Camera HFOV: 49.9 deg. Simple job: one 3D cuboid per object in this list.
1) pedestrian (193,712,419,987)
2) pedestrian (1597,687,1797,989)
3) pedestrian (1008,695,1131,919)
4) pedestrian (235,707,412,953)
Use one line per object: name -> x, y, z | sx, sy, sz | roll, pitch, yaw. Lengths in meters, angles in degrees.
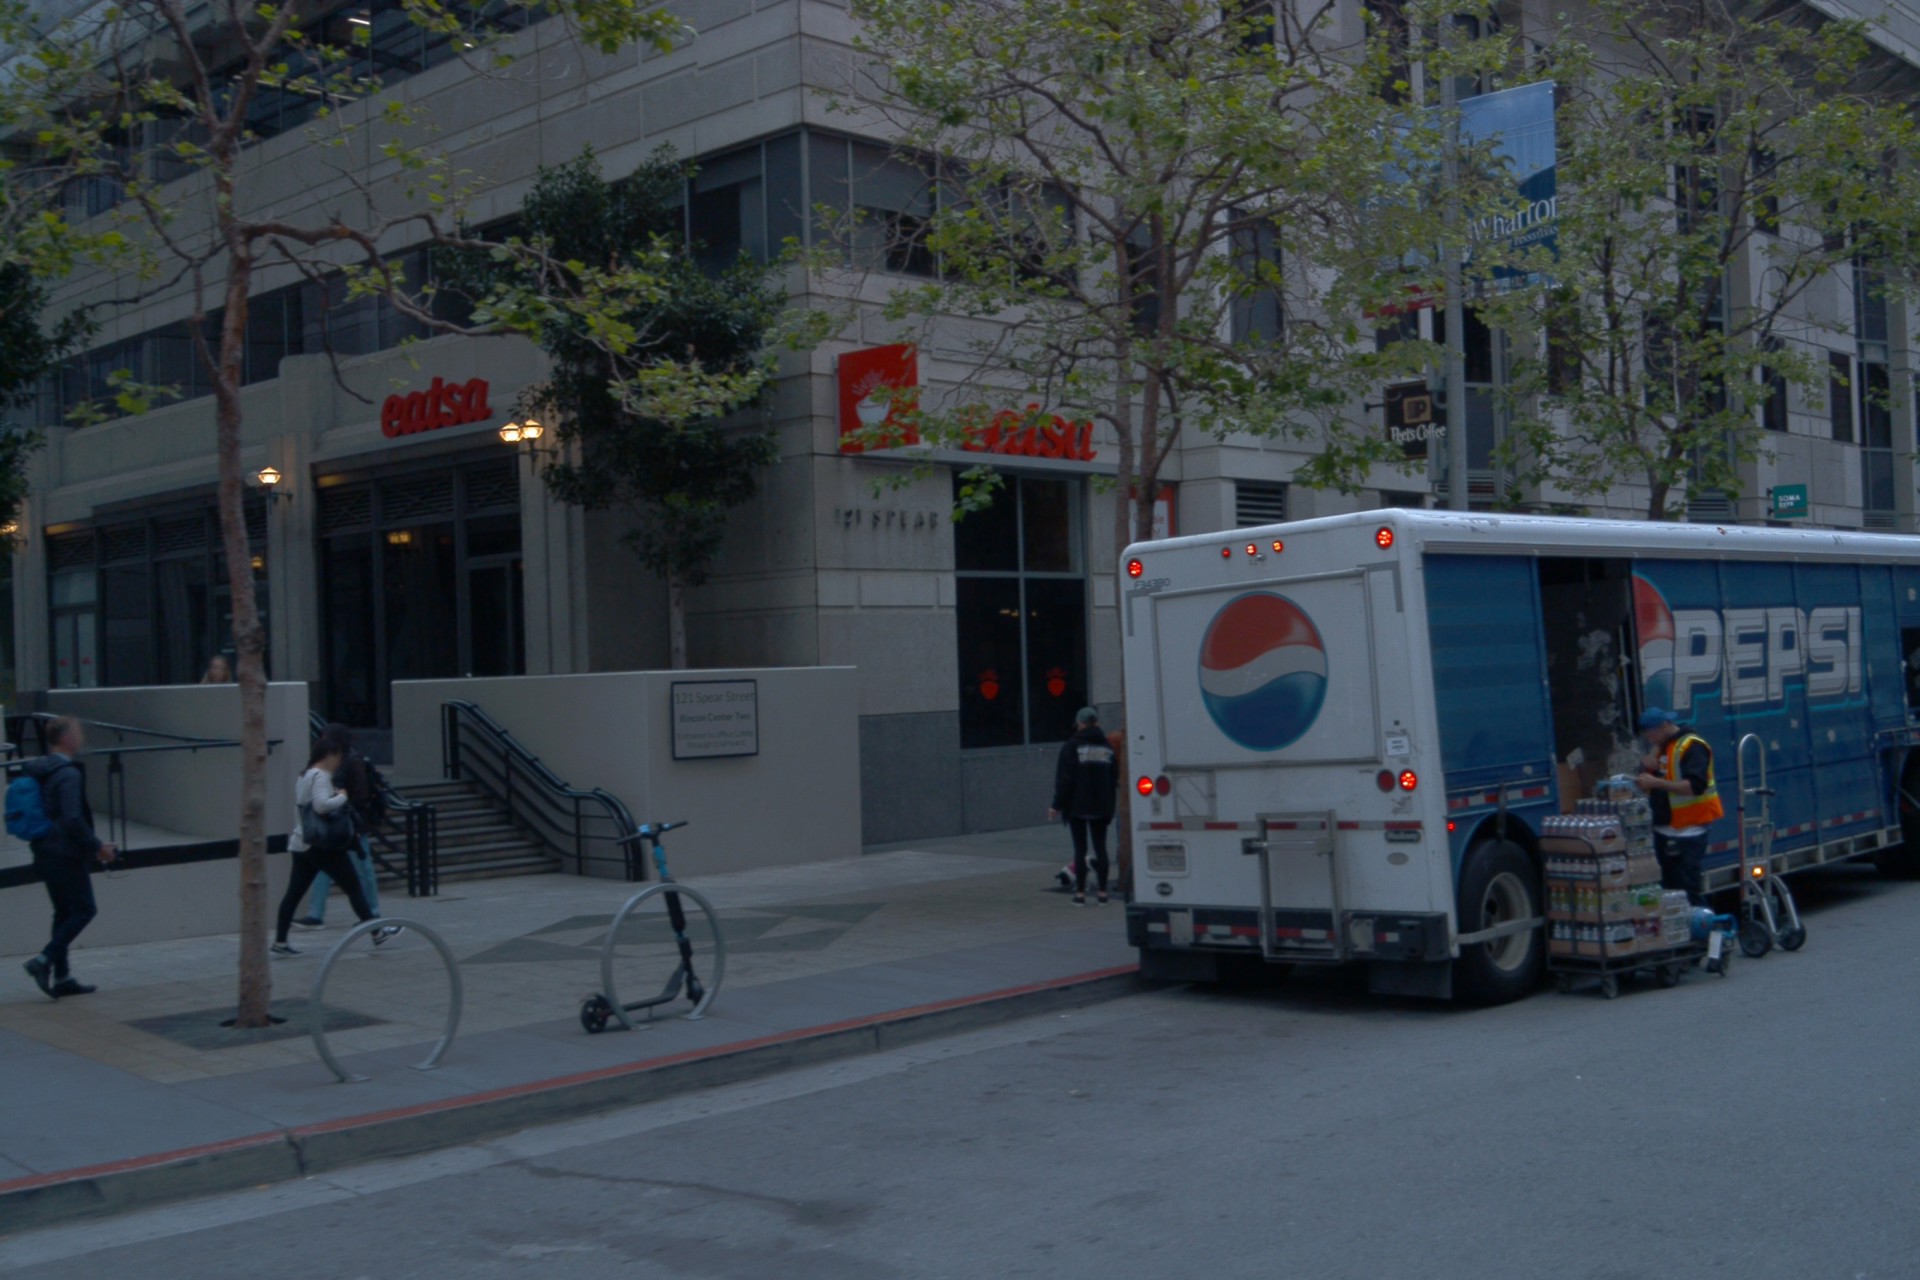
pedestrian -> -4.643, 1.439, 14.663 | 1.198, 1.780, 1.017 | -1, 1, -43
pedestrian -> 4.828, 1.258, 13.570 | 0.834, 1.860, 0.984 | 0, 1, -14
pedestrian -> 0.896, 1.351, 16.987 | 0.758, 1.750, 0.755 | 0, 1, -23
pedestrian -> -5.021, 1.460, 16.293 | 0.800, 1.810, 1.068 | 1, 1, 42
